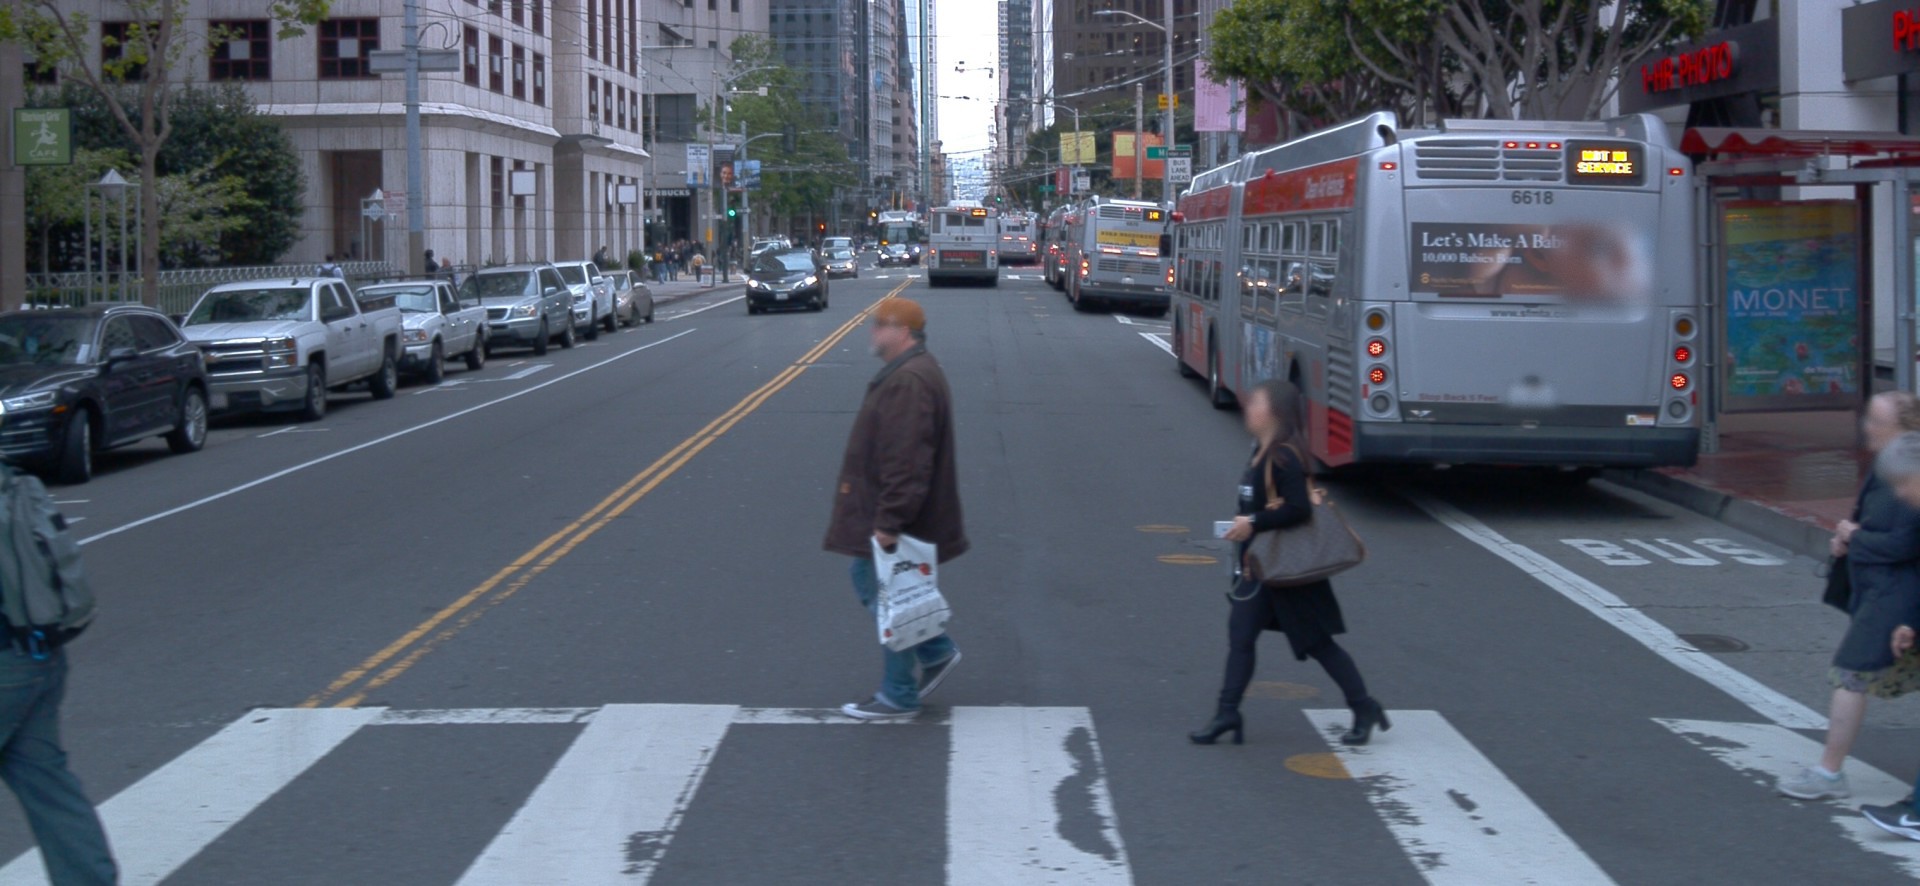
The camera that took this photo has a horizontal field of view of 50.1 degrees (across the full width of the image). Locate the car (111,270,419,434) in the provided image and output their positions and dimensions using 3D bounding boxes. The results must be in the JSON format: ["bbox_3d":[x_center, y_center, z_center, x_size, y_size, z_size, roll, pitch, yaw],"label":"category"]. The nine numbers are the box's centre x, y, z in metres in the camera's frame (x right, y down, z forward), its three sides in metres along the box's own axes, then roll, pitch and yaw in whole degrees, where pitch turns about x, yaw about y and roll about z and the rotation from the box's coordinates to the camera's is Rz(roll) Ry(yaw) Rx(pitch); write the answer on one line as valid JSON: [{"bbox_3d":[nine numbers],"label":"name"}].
[{"bbox_3d":[-9.231,-1.357,27.928,2.371,1.882,5.839,0,5,-2],"label":"car"}]

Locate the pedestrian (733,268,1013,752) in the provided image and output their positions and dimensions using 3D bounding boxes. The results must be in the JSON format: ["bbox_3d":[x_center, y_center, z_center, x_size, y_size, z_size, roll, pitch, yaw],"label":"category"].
[{"bbox_3d":[-0.366,0.232,8.920,1.146,1.968,0.957,0,1,-1],"label":"pedestrian"}]

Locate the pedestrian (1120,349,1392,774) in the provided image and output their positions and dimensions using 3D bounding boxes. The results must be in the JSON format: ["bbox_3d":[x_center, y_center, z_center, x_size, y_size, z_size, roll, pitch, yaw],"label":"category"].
[{"bbox_3d":[1.194,0.442,8.468,0.966,1.605,0.875,0,1,-3],"label":"pedestrian"}]

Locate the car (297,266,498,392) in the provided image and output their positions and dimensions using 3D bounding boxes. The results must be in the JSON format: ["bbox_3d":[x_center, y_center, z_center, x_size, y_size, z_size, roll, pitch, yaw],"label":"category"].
[{"bbox_3d":[-9.261,-1.985,34.311,2.064,1.843,5.283,0,5,-2],"label":"car"}]
